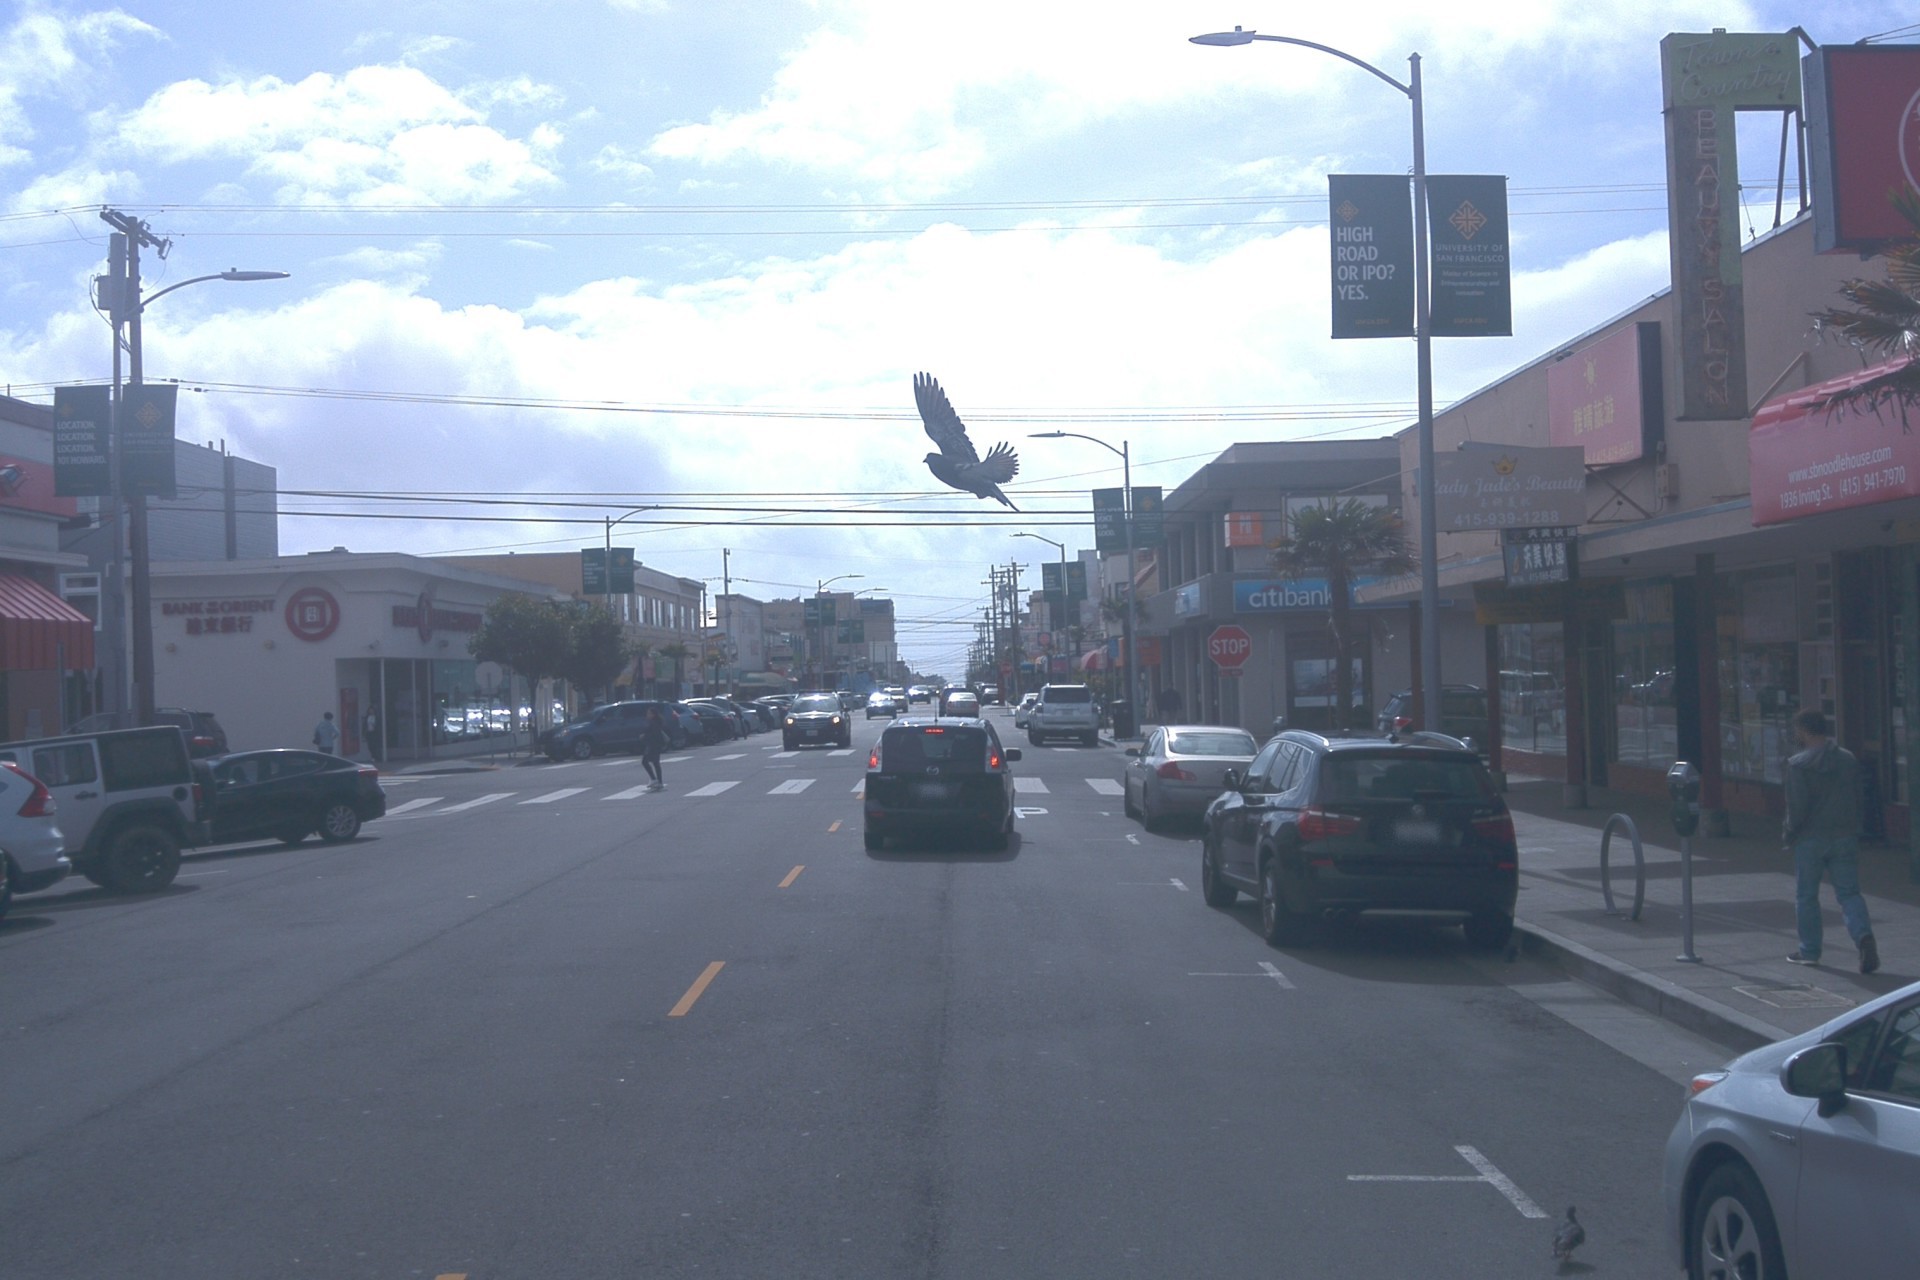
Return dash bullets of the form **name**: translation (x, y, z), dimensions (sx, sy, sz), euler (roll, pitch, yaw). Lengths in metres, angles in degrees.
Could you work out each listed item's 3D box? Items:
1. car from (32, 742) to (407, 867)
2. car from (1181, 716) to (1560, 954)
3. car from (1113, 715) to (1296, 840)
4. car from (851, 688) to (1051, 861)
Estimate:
- **car**: translation (-10.439, 2.264, 29.443), dimensions (4.590, 1.478, 2.019), euler (1, -1, -43)
- **car**: translation (3.258, 1.507, 17.538), dimensions (2.061, 1.620, 4.747), euler (0, -1, -3)
- **car**: translation (3.389, 1.894, 29.612), dimensions (1.988, 1.532, 4.724), euler (0, -1, -1)
- **car**: translation (-0.012, 1.624, 26.504), dimensions (2.096, 1.972, 4.571), euler (0, -1, 6)
